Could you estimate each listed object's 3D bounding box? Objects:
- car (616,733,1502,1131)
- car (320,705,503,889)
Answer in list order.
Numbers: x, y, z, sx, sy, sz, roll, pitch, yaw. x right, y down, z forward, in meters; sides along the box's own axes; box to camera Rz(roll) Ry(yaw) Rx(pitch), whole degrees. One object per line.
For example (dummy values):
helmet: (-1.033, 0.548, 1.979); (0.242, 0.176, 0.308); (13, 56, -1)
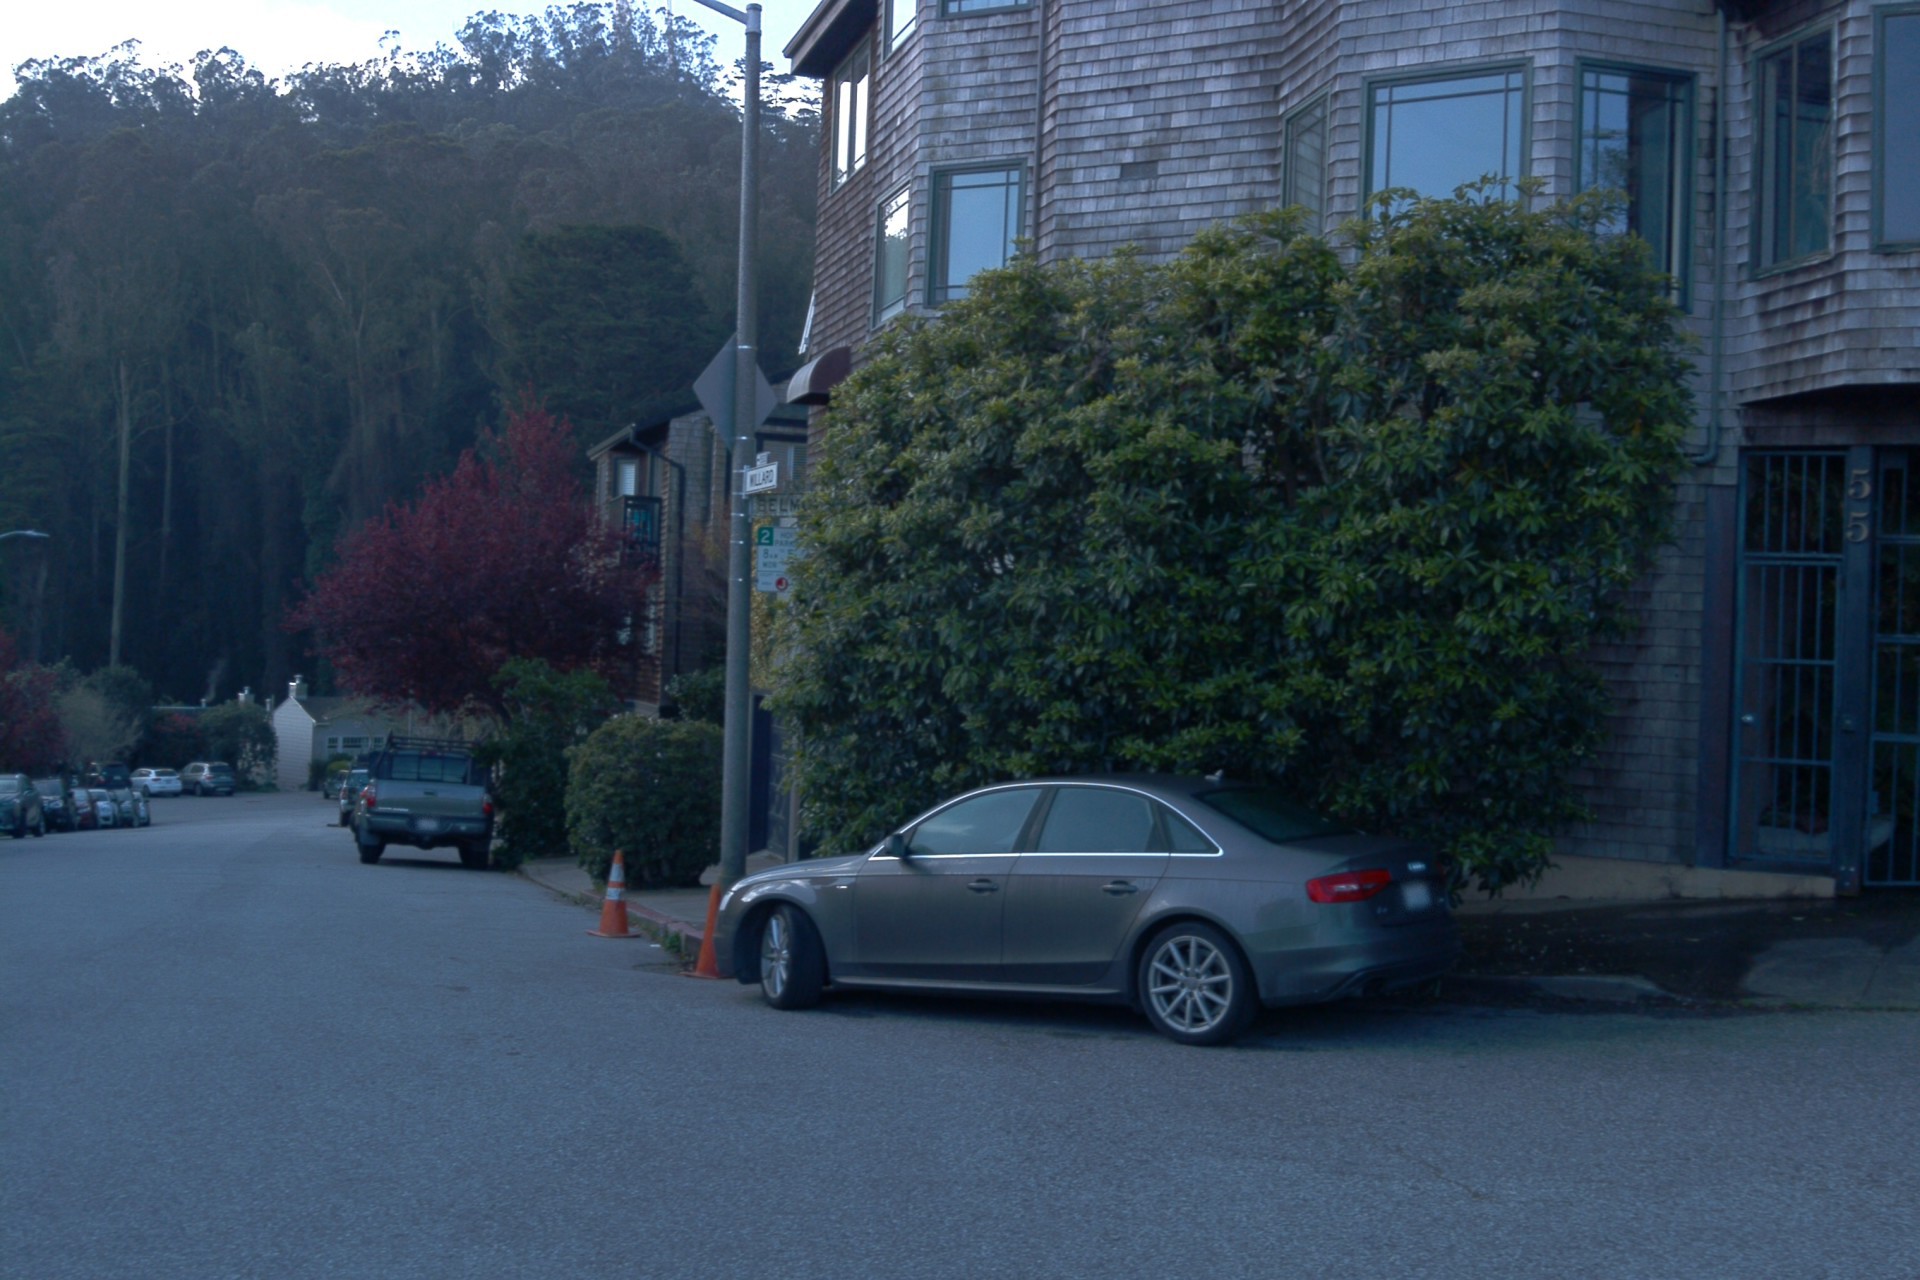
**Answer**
car: (0.465, 1.484, 11.887); (4.761, 1.625, 2.015); (1, 1, 34)
car: (-8.663, 2.331, 32.213); (2.539, 2.360, 5.547); (0, 1, -16)
